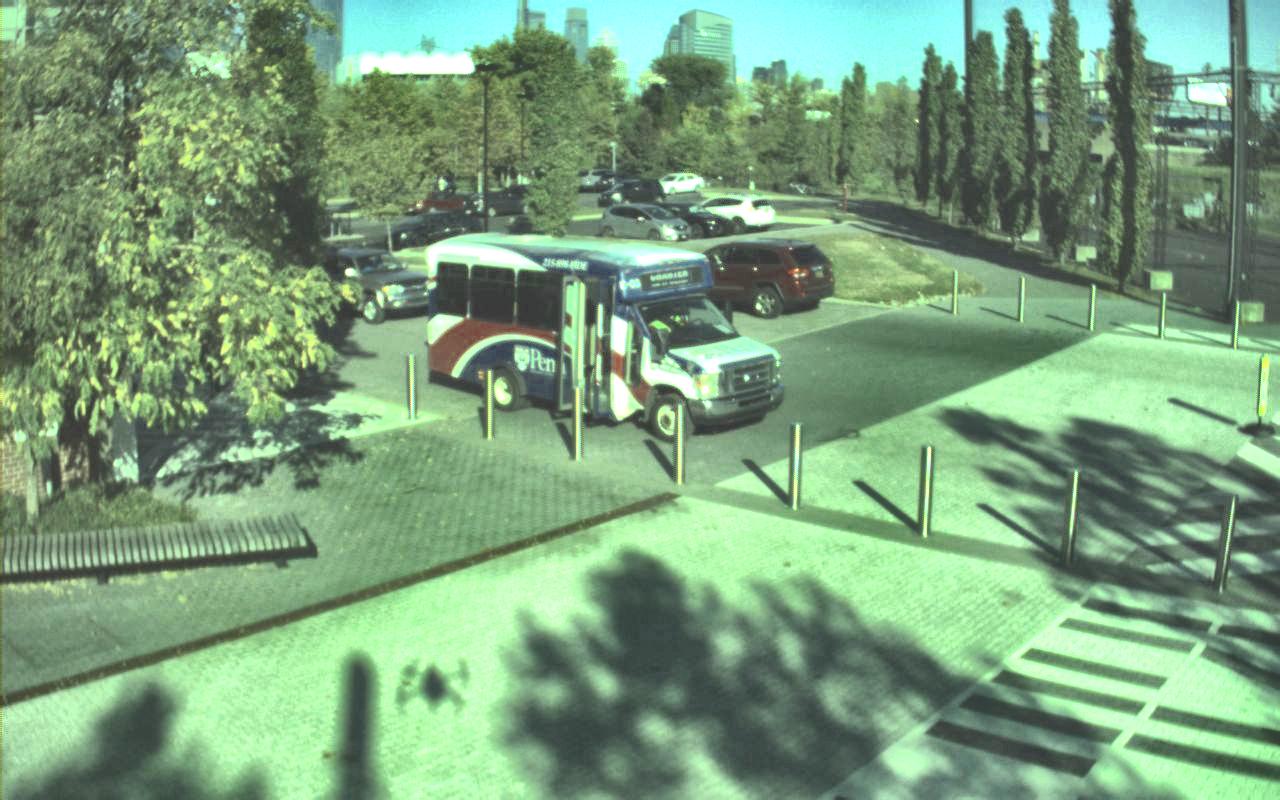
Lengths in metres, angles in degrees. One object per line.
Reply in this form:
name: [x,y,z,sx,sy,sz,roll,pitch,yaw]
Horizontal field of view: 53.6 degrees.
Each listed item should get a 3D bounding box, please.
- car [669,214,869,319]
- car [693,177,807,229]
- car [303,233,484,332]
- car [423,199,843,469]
car: [3.132,-3.350,30.795,4.573,1.783,2.007,13,21,38]
car: [4.741,-8.525,54.076,4.523,1.715,1.998,10,20,33]
car: [-6.297,-3.032,31.274,4.631,1.694,2.020,11,20,36]
car: [-0.326,-1.386,20.513,6.885,2.947,2.645,14,22,41]
